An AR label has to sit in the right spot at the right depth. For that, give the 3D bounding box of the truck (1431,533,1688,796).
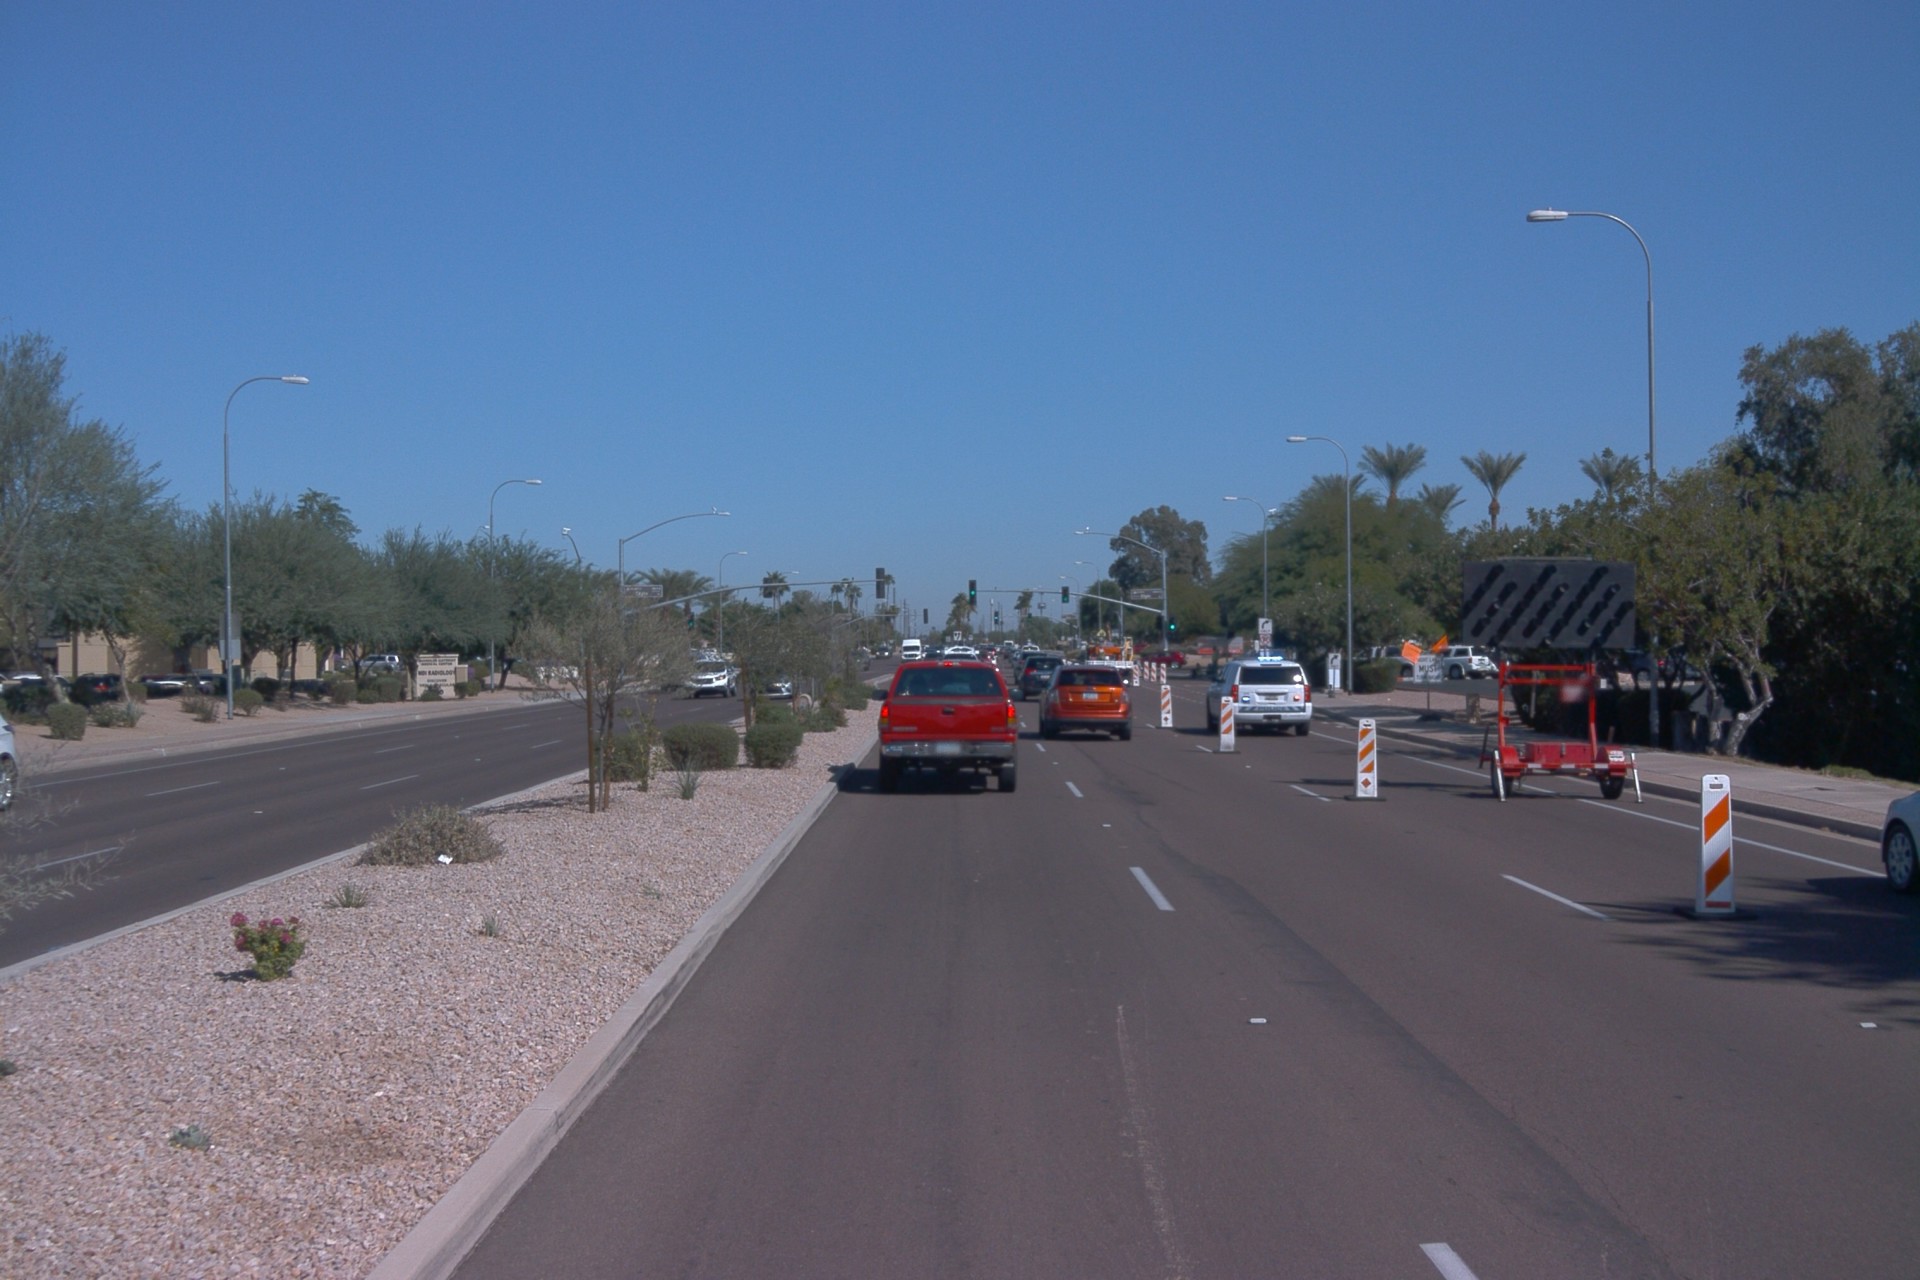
[{"bbox_3d":[8.495,0.335,29.688,2.864,3.550,3.188,0,0,3],"label":"truck"}]

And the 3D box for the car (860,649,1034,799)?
[{"bbox_3d":[-0.193,1.152,30.964,2.340,2.010,5.847,0,0,0],"label":"car"}]
